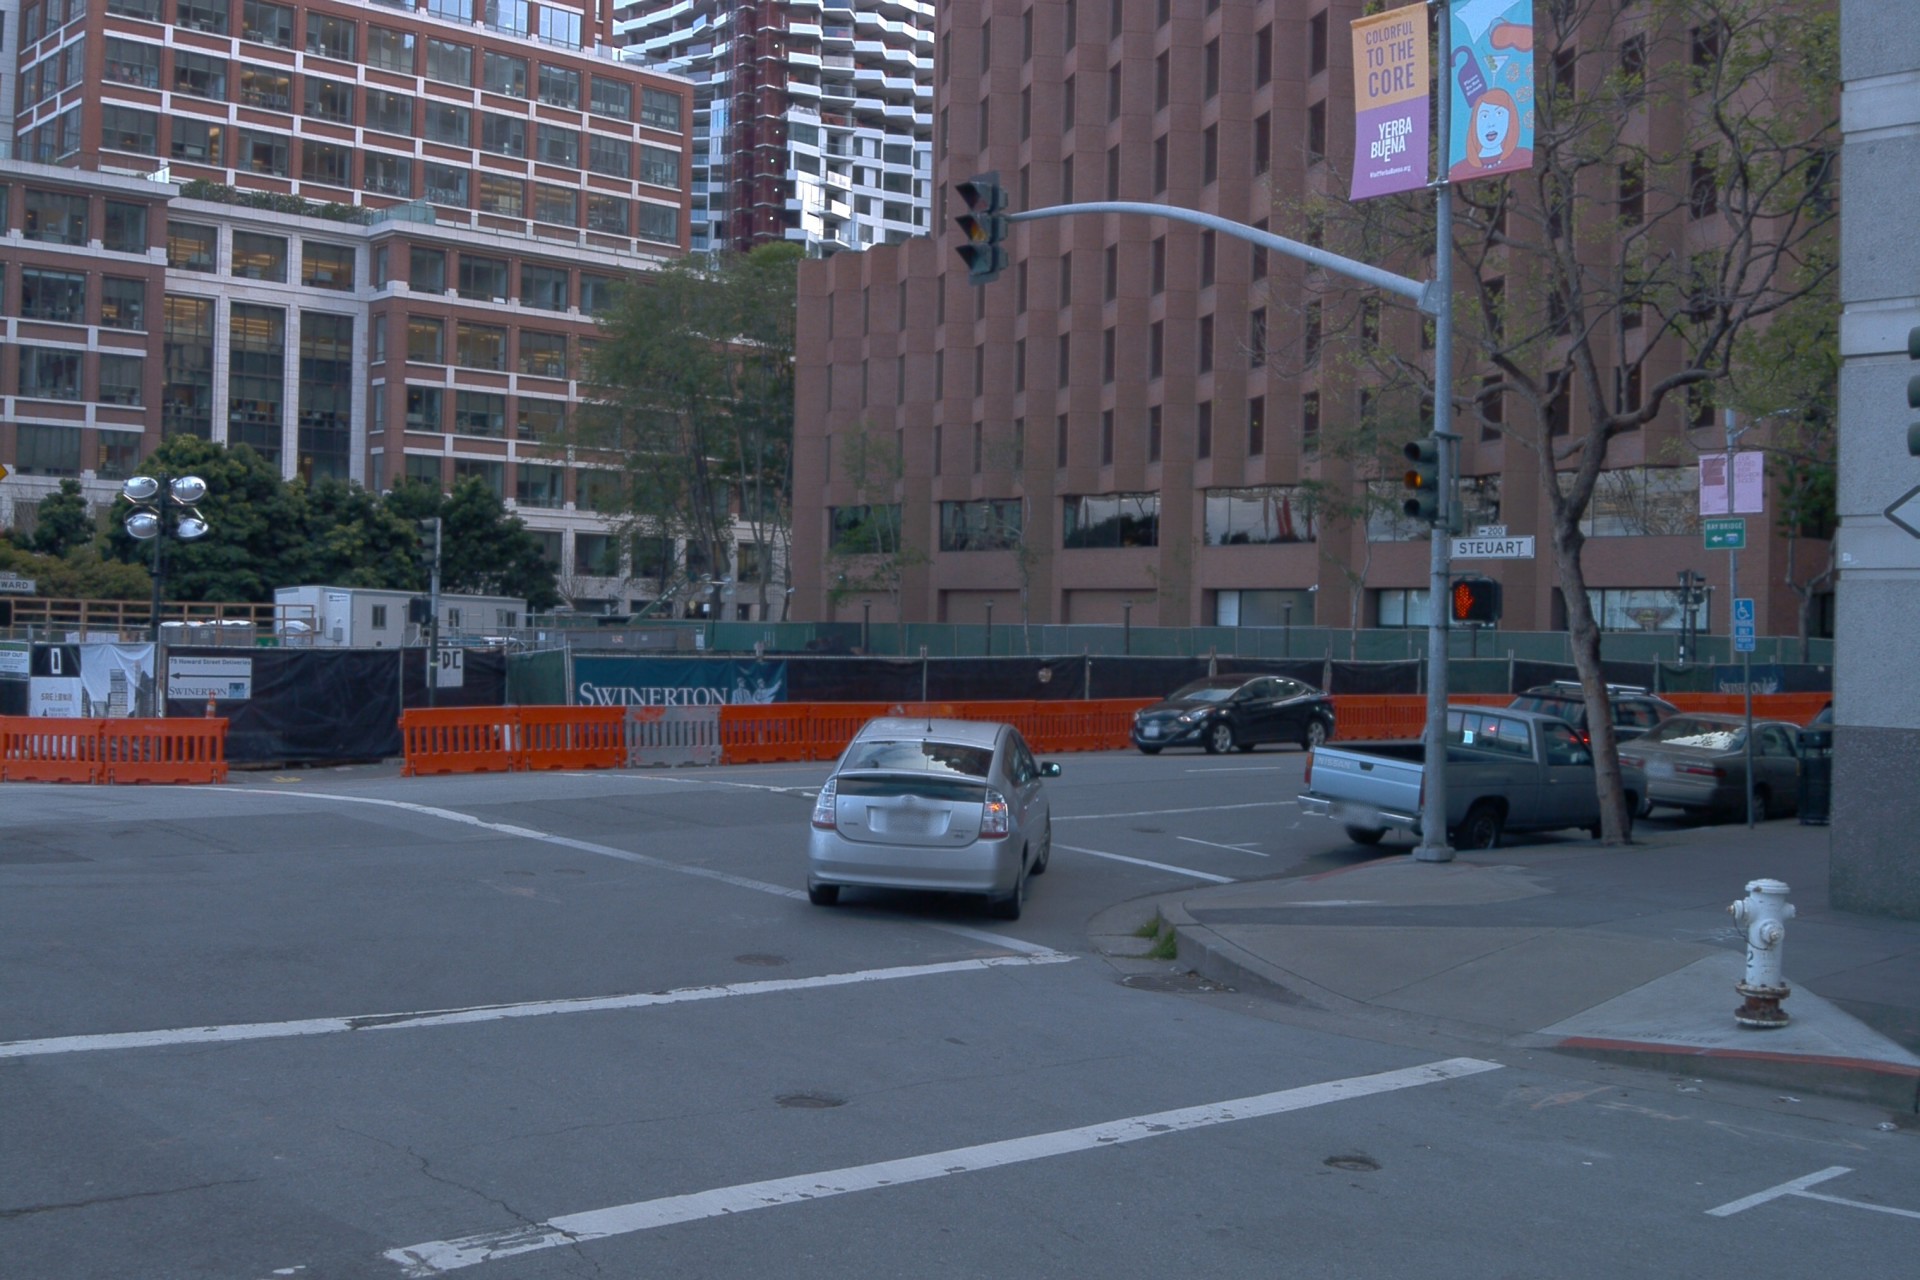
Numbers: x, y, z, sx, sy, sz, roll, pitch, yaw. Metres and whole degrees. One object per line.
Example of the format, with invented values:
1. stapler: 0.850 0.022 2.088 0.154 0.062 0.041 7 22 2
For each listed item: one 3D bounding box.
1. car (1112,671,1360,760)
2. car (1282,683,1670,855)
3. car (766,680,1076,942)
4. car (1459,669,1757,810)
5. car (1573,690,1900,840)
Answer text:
1. car: 5.039 1.317 36.925 4.607 1.430 1.996 0 0 -44
2. car: 5.760 1.322 22.508 4.672 1.610 1.863 0 0 -42
3. car: -0.178 1.313 17.491 2.019 1.820 4.420 1 0 7
4. car: 9.140 1.324 28.712 4.208 1.760 2.035 0 0 -40
5. car: 10.161 1.545 26.614 4.581 1.660 2.108 0 0 -42
